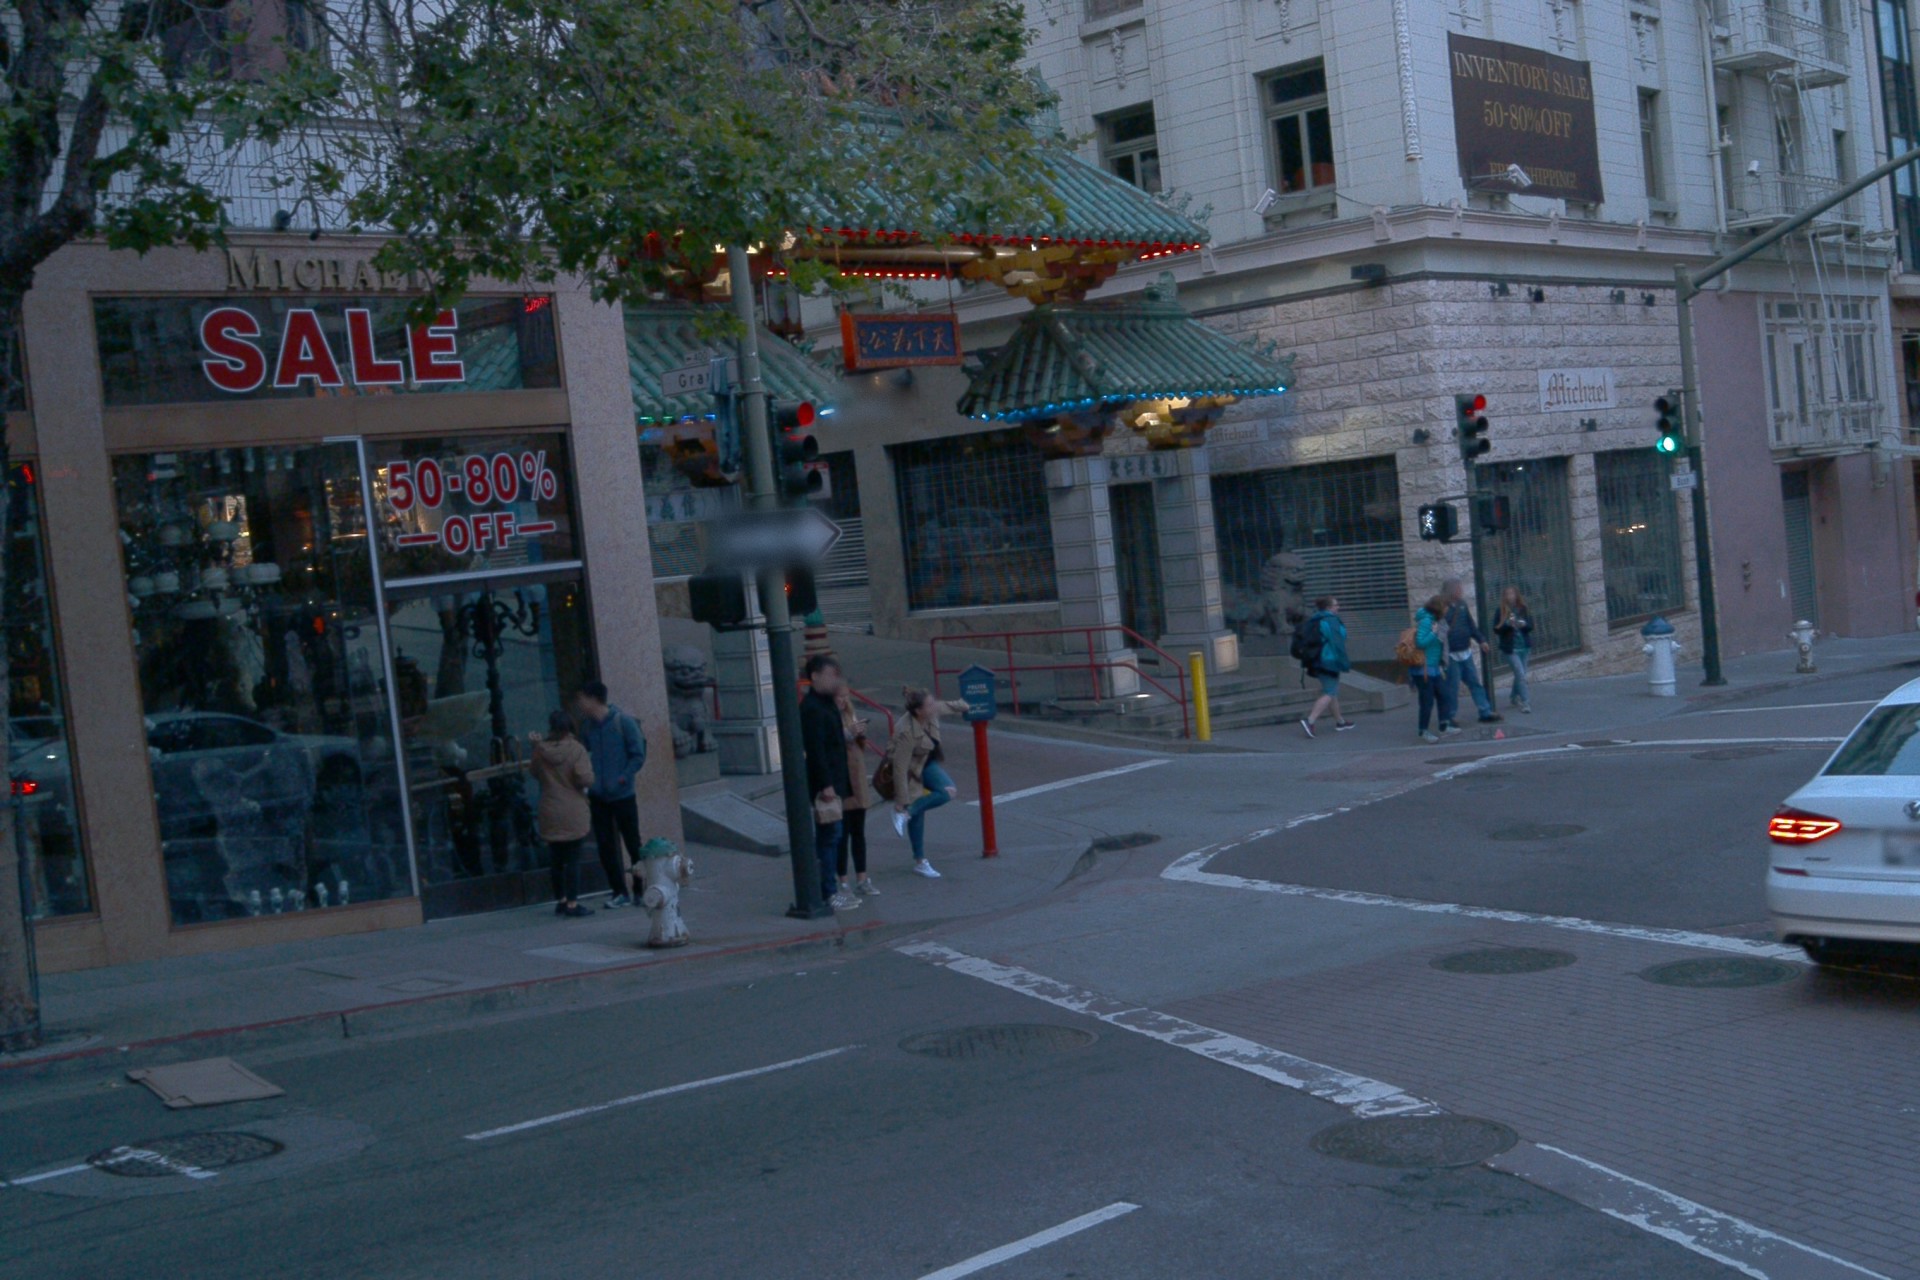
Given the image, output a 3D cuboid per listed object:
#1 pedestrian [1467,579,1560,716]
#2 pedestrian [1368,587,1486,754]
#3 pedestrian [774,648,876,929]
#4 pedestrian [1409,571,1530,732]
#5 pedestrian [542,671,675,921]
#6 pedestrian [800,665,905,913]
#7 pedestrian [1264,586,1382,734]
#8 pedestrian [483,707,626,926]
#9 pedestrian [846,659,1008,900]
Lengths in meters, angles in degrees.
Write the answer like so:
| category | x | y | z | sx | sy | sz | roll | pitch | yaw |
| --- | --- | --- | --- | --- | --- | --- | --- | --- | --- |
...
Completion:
| category | x | y | z | sx | sy | sz | roll | pitch | yaw |
| --- | --- | --- | --- | --- | --- | --- | --- | --- | --- |
| pedestrian | 6.818 | 0.084 | 25.424 | 0.754 | 1.660 | 0.818 | -1 | 1 | -39 |
| pedestrian | 5.323 | 0.334 | 23.518 | 0.927 | 1.850 | 0.934 | -1 | 1 | -39 |
| pedestrian | -1.024 | 1.106 | 15.717 | 0.546 | 2.070 | 0.609 | 0 | 1 | 24 |
| pedestrian | 5.934 | 0.120 | 24.044 | 0.964 | 1.820 | 1.000 | -1 | 1 | -42 |
| pedestrian | -2.757 | 1.196 | 16.201 | 0.716 | 1.880 | 0.724 | 0 | 1 | 36 |
| pedestrian | -0.841 | 1.150 | 16.248 | 0.531 | 1.880 | 0.637 | 0 | 1 | 38 |
| pedestrian | 4.319 | 0.226 | 24.570 | 0.989 | 1.710 | 0.971 | -1 | 1 | -39 |
| pedestrian | -3.087 | 1.319 | 15.749 | 0.787 | 1.580 | 0.744 | 0 | 1 | 20 |
| pedestrian | -0.265 | 1.116 | 17.059 | 0.817 | 1.880 | 1.093 | 1 | 1 | 41 |
